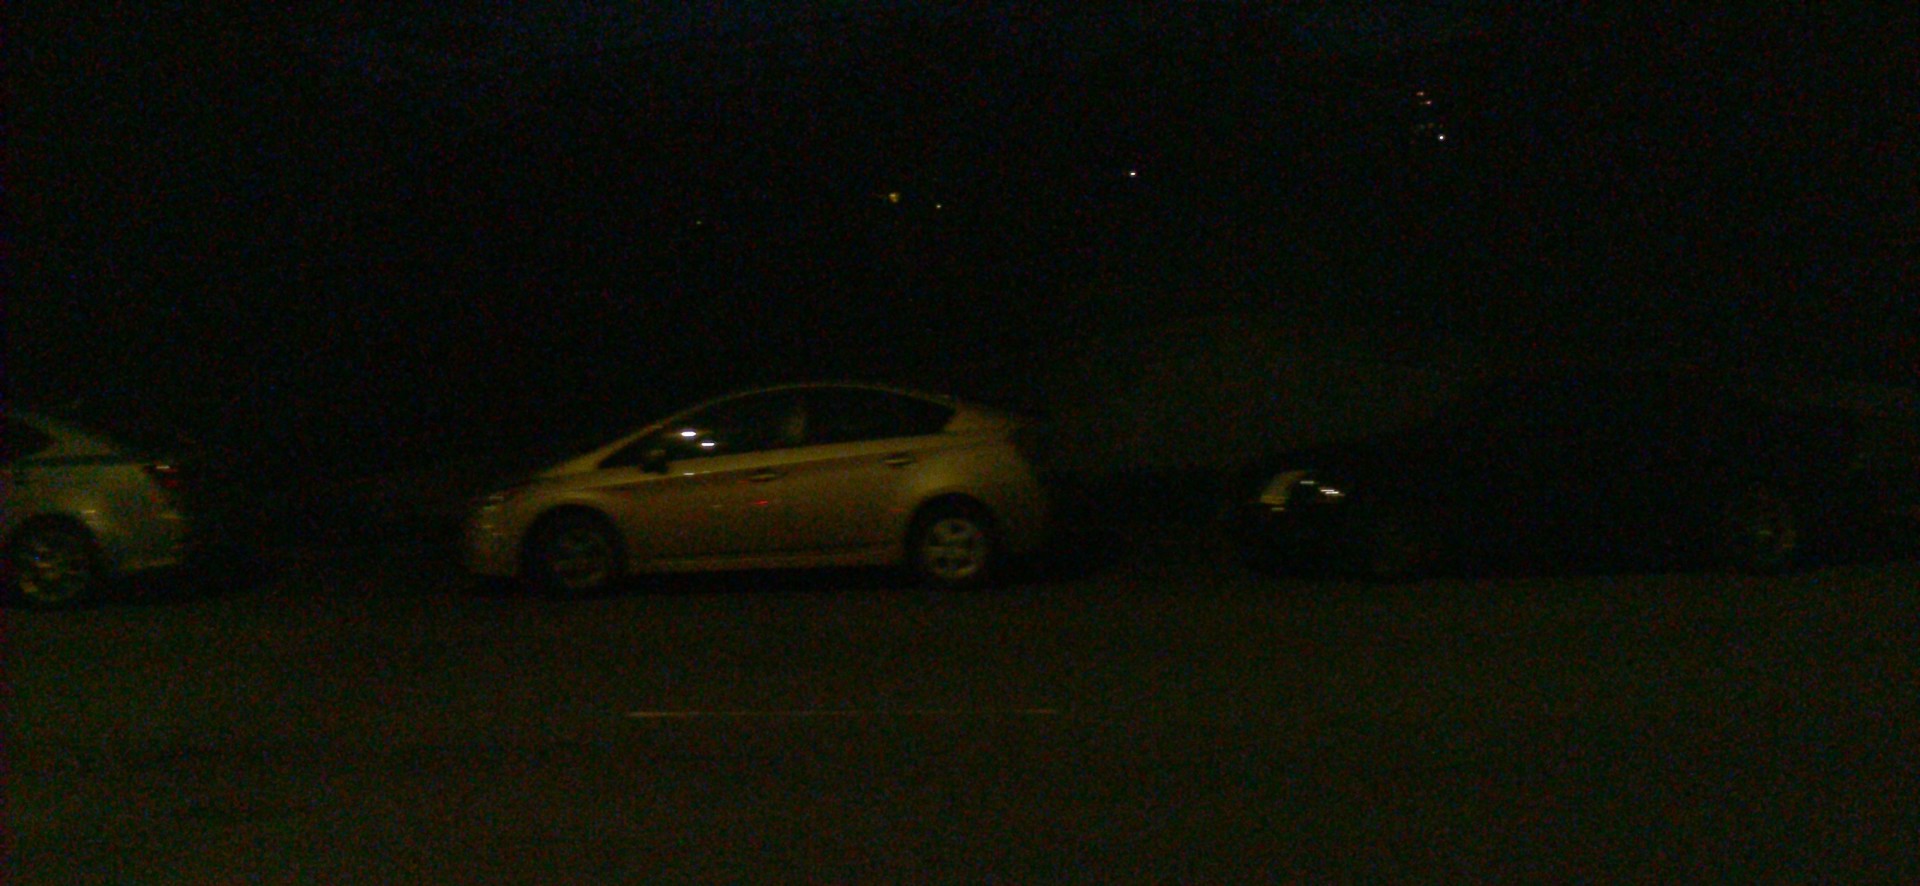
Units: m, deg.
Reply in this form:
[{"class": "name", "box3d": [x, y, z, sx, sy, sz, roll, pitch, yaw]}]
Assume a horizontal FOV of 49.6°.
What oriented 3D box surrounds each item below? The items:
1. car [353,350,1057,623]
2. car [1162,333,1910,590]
[{"class": "car", "box3d": [-1.734, 0.254, 15.095, 4.721, 1.664, 2.078, 1, 4, -3]}, {"class": "car", "box3d": [4.073, 0.078, 15.292, 4.920, 1.594, 2.111, 1, 5, -3]}]
